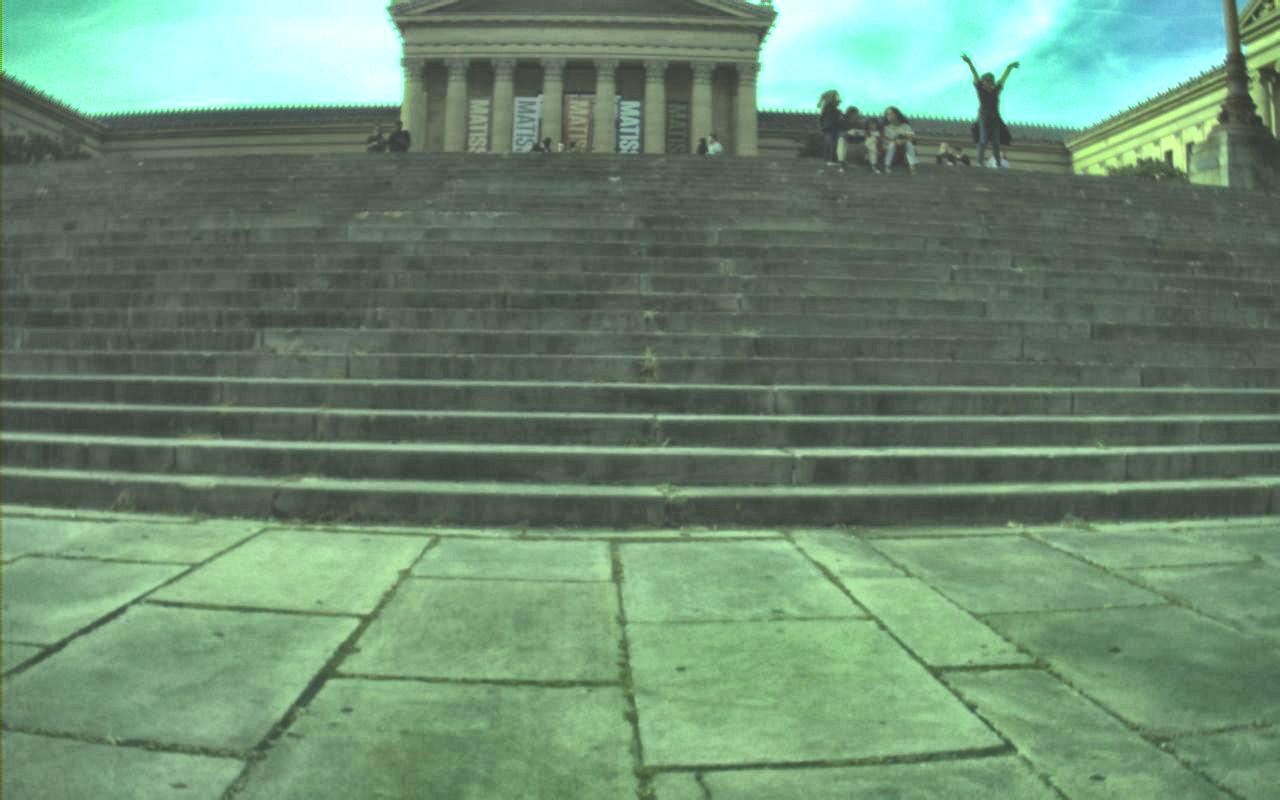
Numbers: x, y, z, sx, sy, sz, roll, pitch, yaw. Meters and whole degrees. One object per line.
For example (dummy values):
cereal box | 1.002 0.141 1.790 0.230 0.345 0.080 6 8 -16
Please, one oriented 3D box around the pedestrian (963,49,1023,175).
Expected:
pedestrian | 5.588 -4.524 19.068 0.684 1.883 0.679 0 0 -8

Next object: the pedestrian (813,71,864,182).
pedestrian | 2.942 -4.038 18.287 0.668 1.552 0.679 0 0 15
